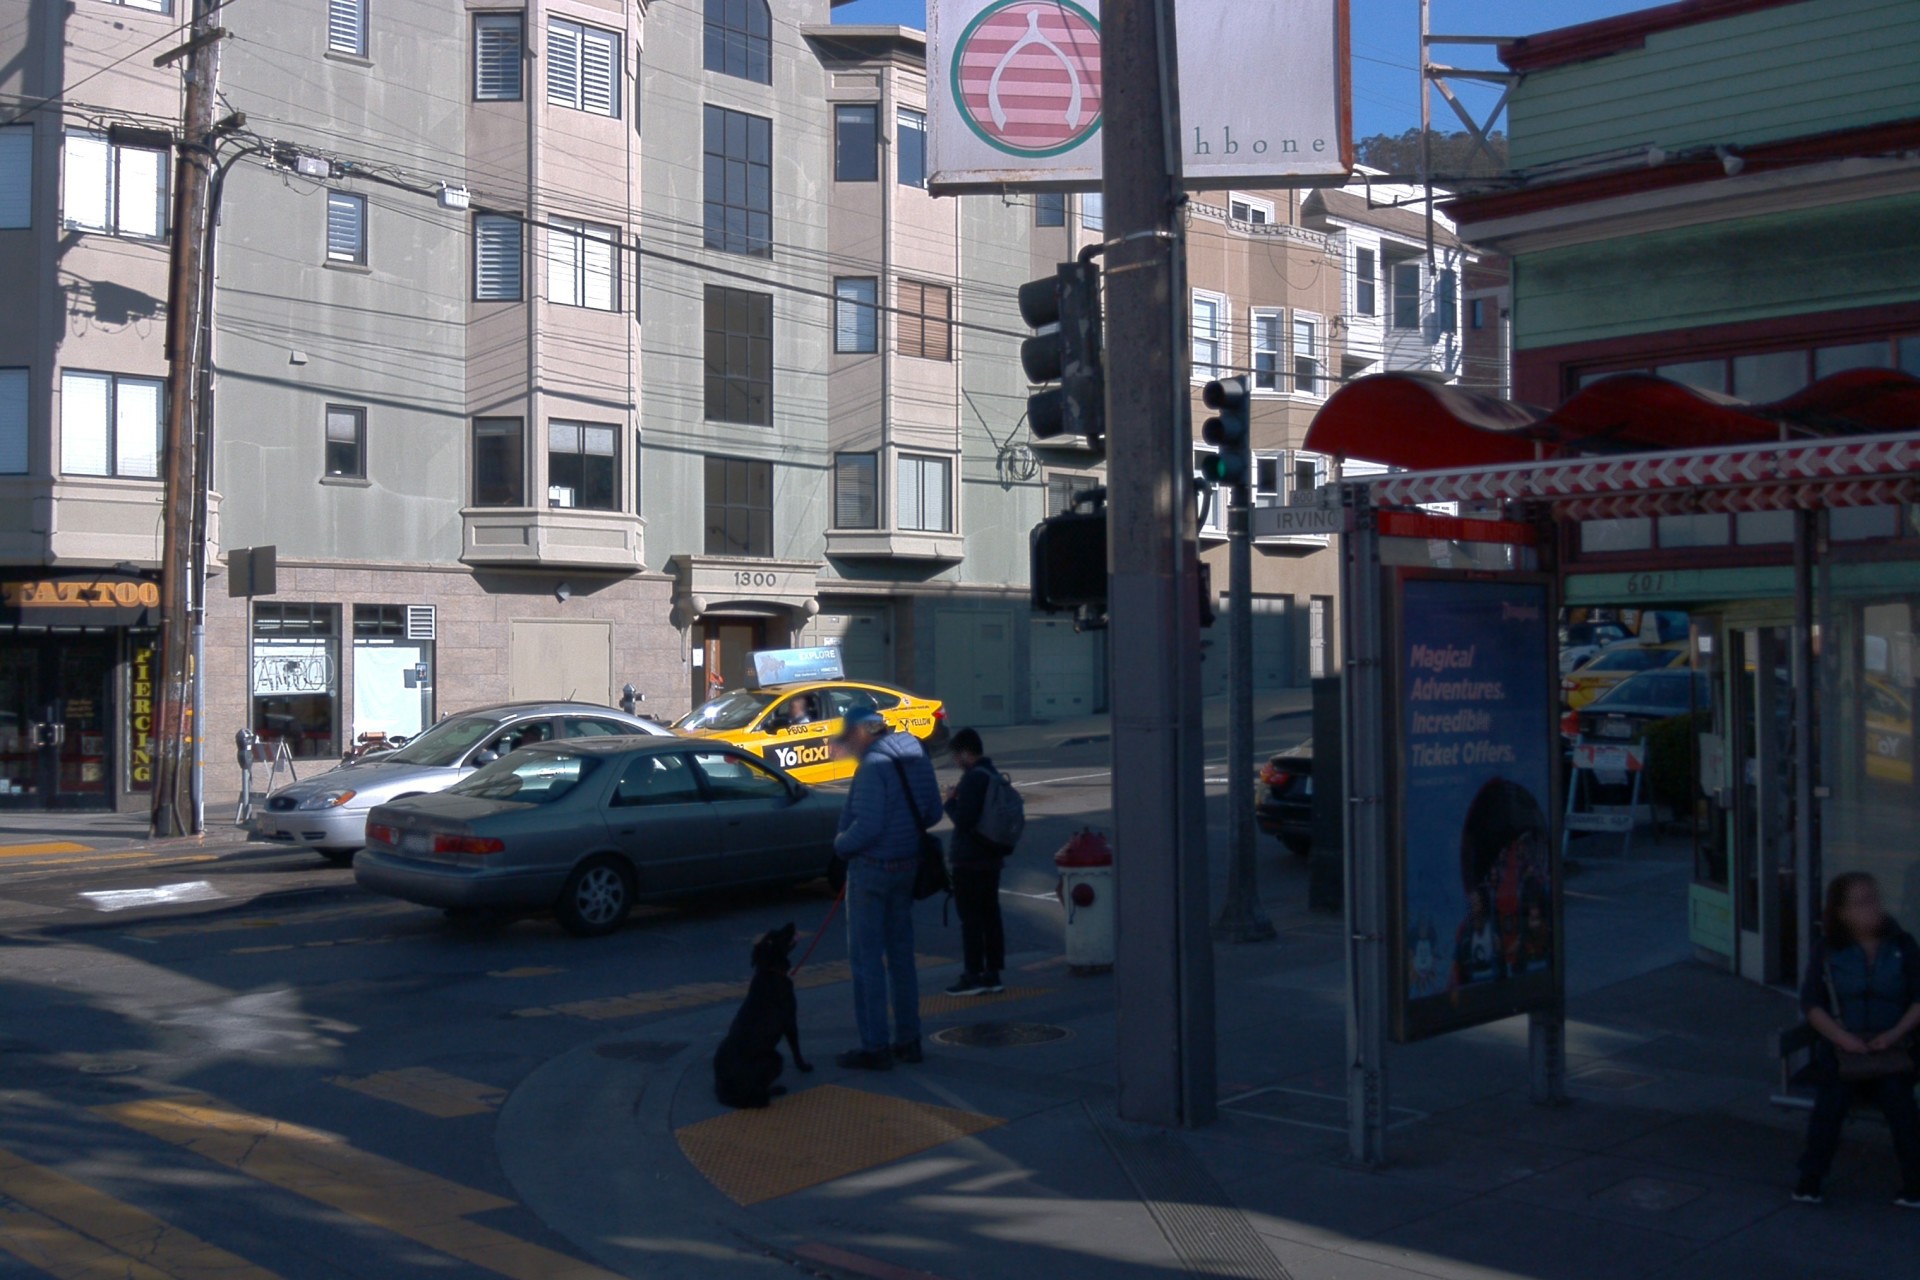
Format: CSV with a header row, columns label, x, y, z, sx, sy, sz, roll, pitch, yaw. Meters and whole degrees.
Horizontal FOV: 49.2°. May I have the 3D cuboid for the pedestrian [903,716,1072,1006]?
label,x,y,z,sx,sy,sz,roll,pitch,yaw
pedestrian,0.168,1.341,13.044,0.687,1.700,0.778,0,0,-43

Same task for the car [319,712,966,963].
label,x,y,z,sx,sy,sz,roll,pitch,yaw
car,-2.388,1.441,16.871,2.077,1.590,4.904,0,0,43

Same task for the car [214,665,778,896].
label,x,y,z,sx,sy,sz,roll,pitch,yaw
car,-4.581,1.287,21.094,5.035,2.030,2.283,1,0,-38

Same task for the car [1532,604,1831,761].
label,x,y,z,sx,sy,sz,roll,pitch,yaw
car,10.547,0.582,30.425,4.992,2.090,2.091,1,0,-45

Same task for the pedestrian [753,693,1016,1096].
label,x,y,z,sx,sy,sz,roll,pitch,yaw
pedestrian,-0.372,1.211,10.485,0.894,1.860,0.955,1,0,38

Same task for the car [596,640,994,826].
label,x,y,z,sx,sy,sz,roll,pitch,yaw
car,-1.964,1.074,26.151,2.070,2.100,4.772,1,0,44
